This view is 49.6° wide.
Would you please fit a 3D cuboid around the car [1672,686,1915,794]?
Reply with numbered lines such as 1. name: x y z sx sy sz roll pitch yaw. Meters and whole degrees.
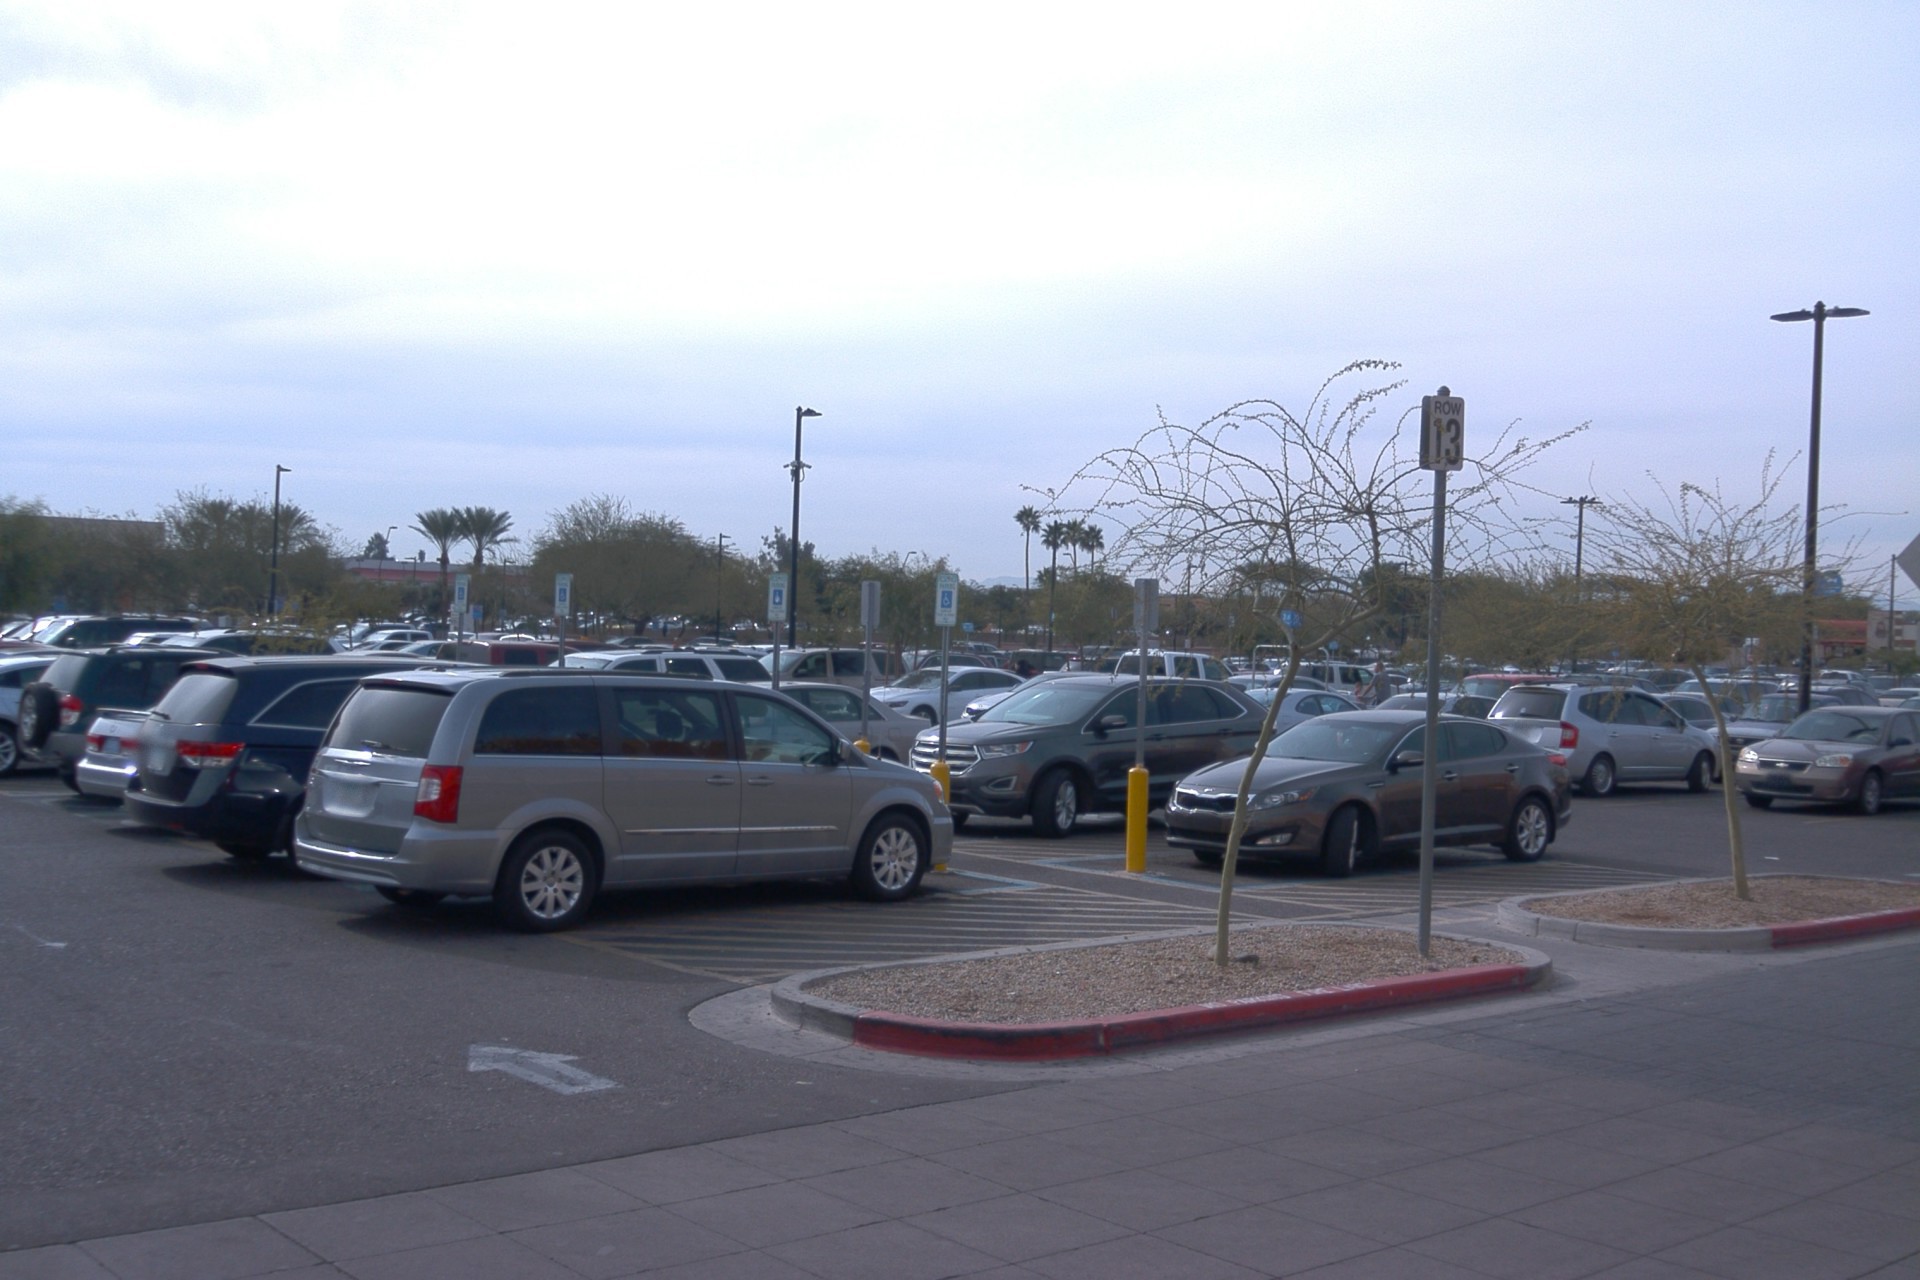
1. car: 14.286 1.670 35.491 4.419 1.690 2.034 2 -1 -41

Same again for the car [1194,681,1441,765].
1. car: 6.280 1.424 36.185 4.345 1.340 1.914 2 -1 -41

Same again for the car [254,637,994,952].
1. car: -2.303 1.008 15.359 5.067 1.930 2.133 2 -1 -44

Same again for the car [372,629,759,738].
1. car: -5.635 0.626 30.072 5.056 1.450 2.220 2 -1 -42

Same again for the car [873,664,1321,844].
1. car: 1.595 1.188 22.824 4.789 1.740 2.142 2 -1 -42

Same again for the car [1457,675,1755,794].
1. car: 9.972 1.407 31.872 4.752 1.660 2.105 2 -1 -40

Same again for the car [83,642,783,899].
1. car: -4.329 1.008 17.726 5.324 1.850 2.261 2 -1 -43

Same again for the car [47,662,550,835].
1. car: -6.411 1.008 20.403 4.279 1.500 1.896 2 -1 -43

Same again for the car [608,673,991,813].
1. car: -1.919 1.226 25.851 2.059 1.550 4.458 0 -1 45

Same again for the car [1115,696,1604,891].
1. car: 3.964 1.388 20.114 4.784 1.610 2.143 2 -1 -41

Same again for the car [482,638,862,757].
1. car: -3.807 0.761 28.038 4.748 1.460 2.027 2 -1 -43
